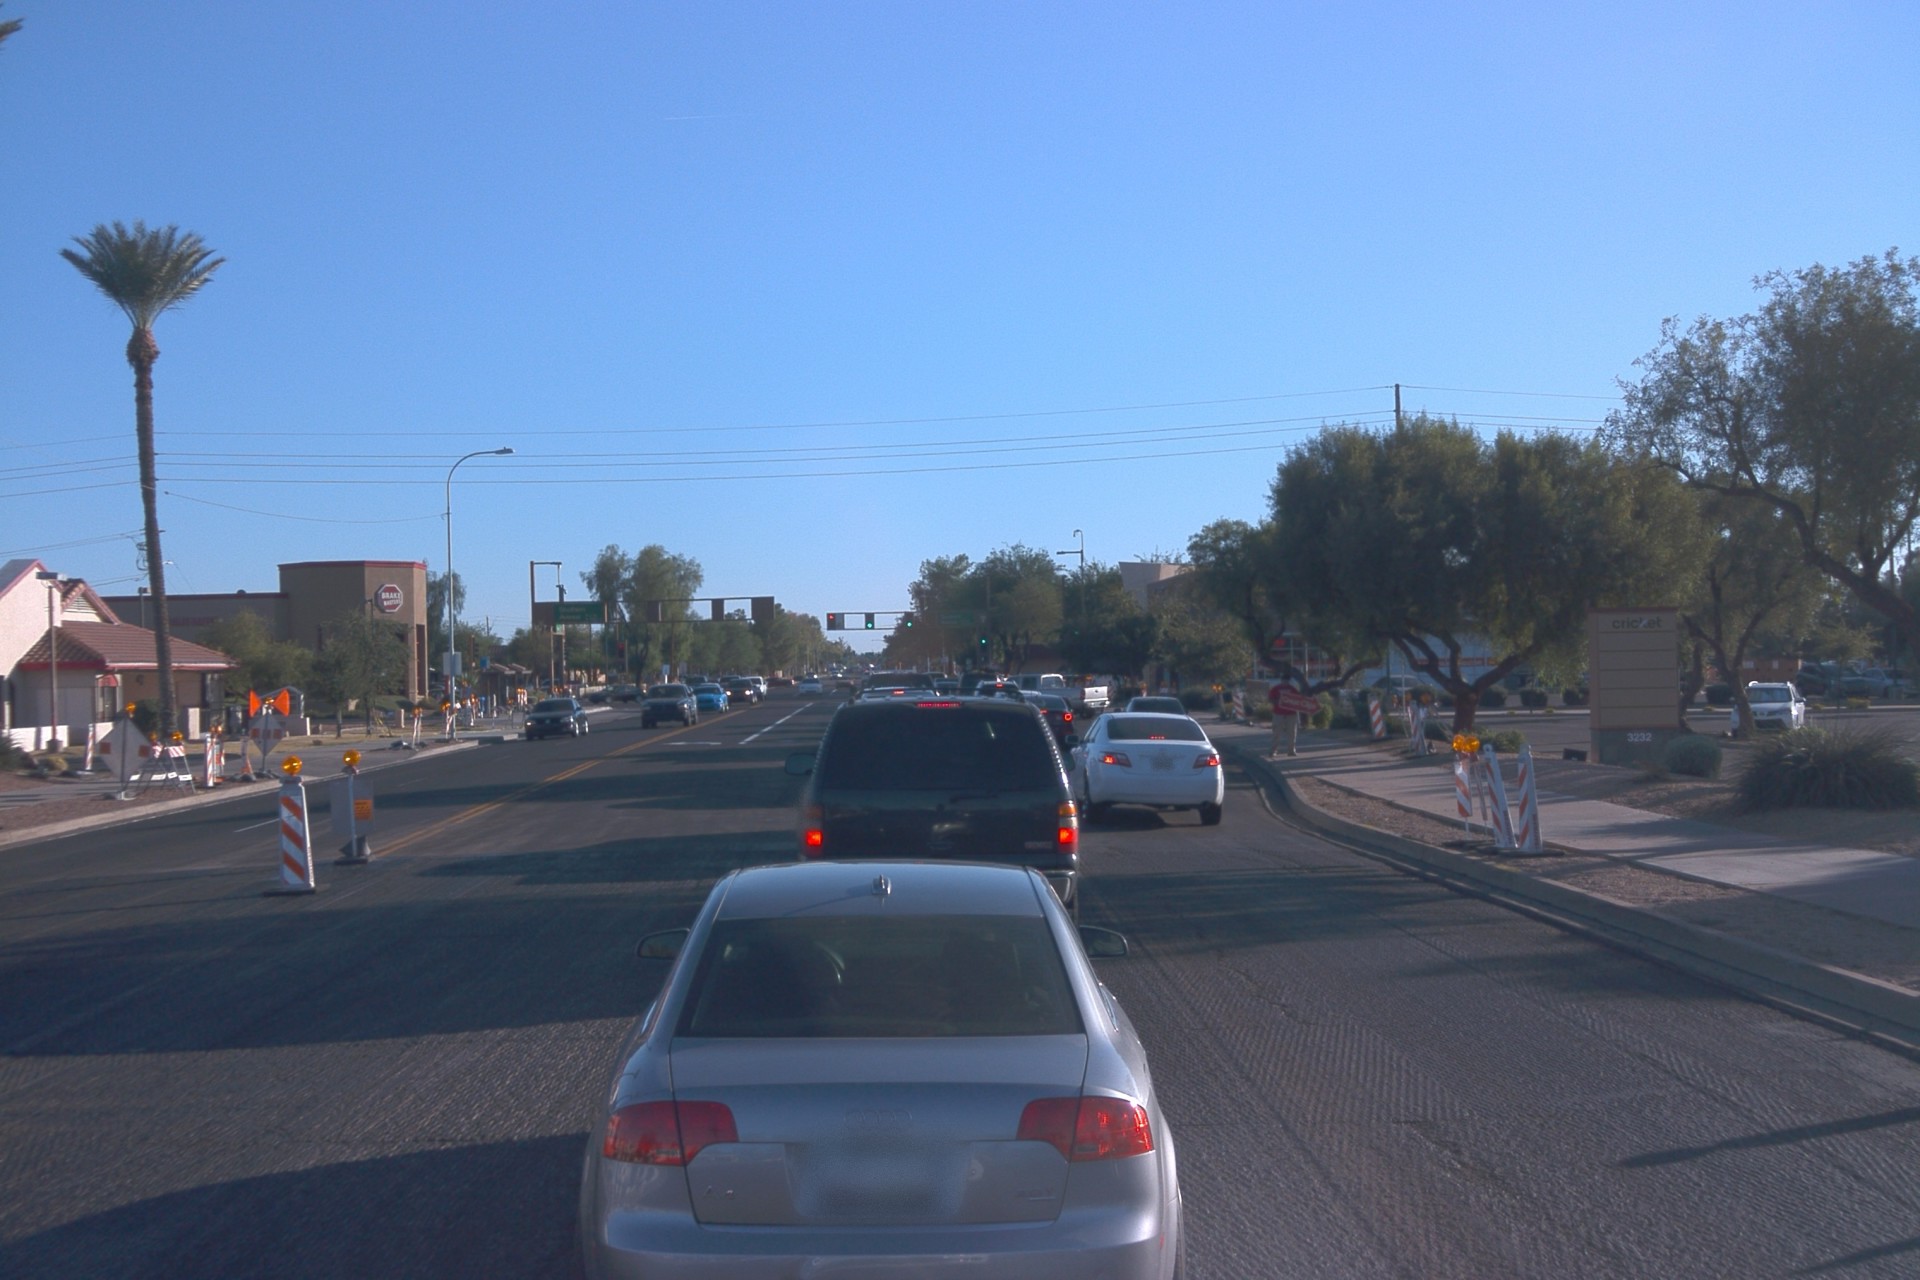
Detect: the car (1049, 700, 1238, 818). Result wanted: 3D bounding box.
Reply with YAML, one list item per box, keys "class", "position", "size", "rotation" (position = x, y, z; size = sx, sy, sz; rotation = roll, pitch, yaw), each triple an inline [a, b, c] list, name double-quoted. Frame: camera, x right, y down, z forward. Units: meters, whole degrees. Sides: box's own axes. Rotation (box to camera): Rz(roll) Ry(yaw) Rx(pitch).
- class: "car"
  position: [2.478, 1.602, 29.210]
  size: [2.124, 1.470, 4.694]
  rotation: [0, -1, -1]

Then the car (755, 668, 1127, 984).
- class: "car"
  position: [-0.211, 1.244, 15.983]
  size: [2.405, 2.040, 5.063]
  rotation: [0, -1, -2]

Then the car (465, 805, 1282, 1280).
- class: "car"
  position: [-0.270, 1.465, 7.386]
  size: [2.033, 1.480, 4.404]
  rotation: [0, -1, -1]
